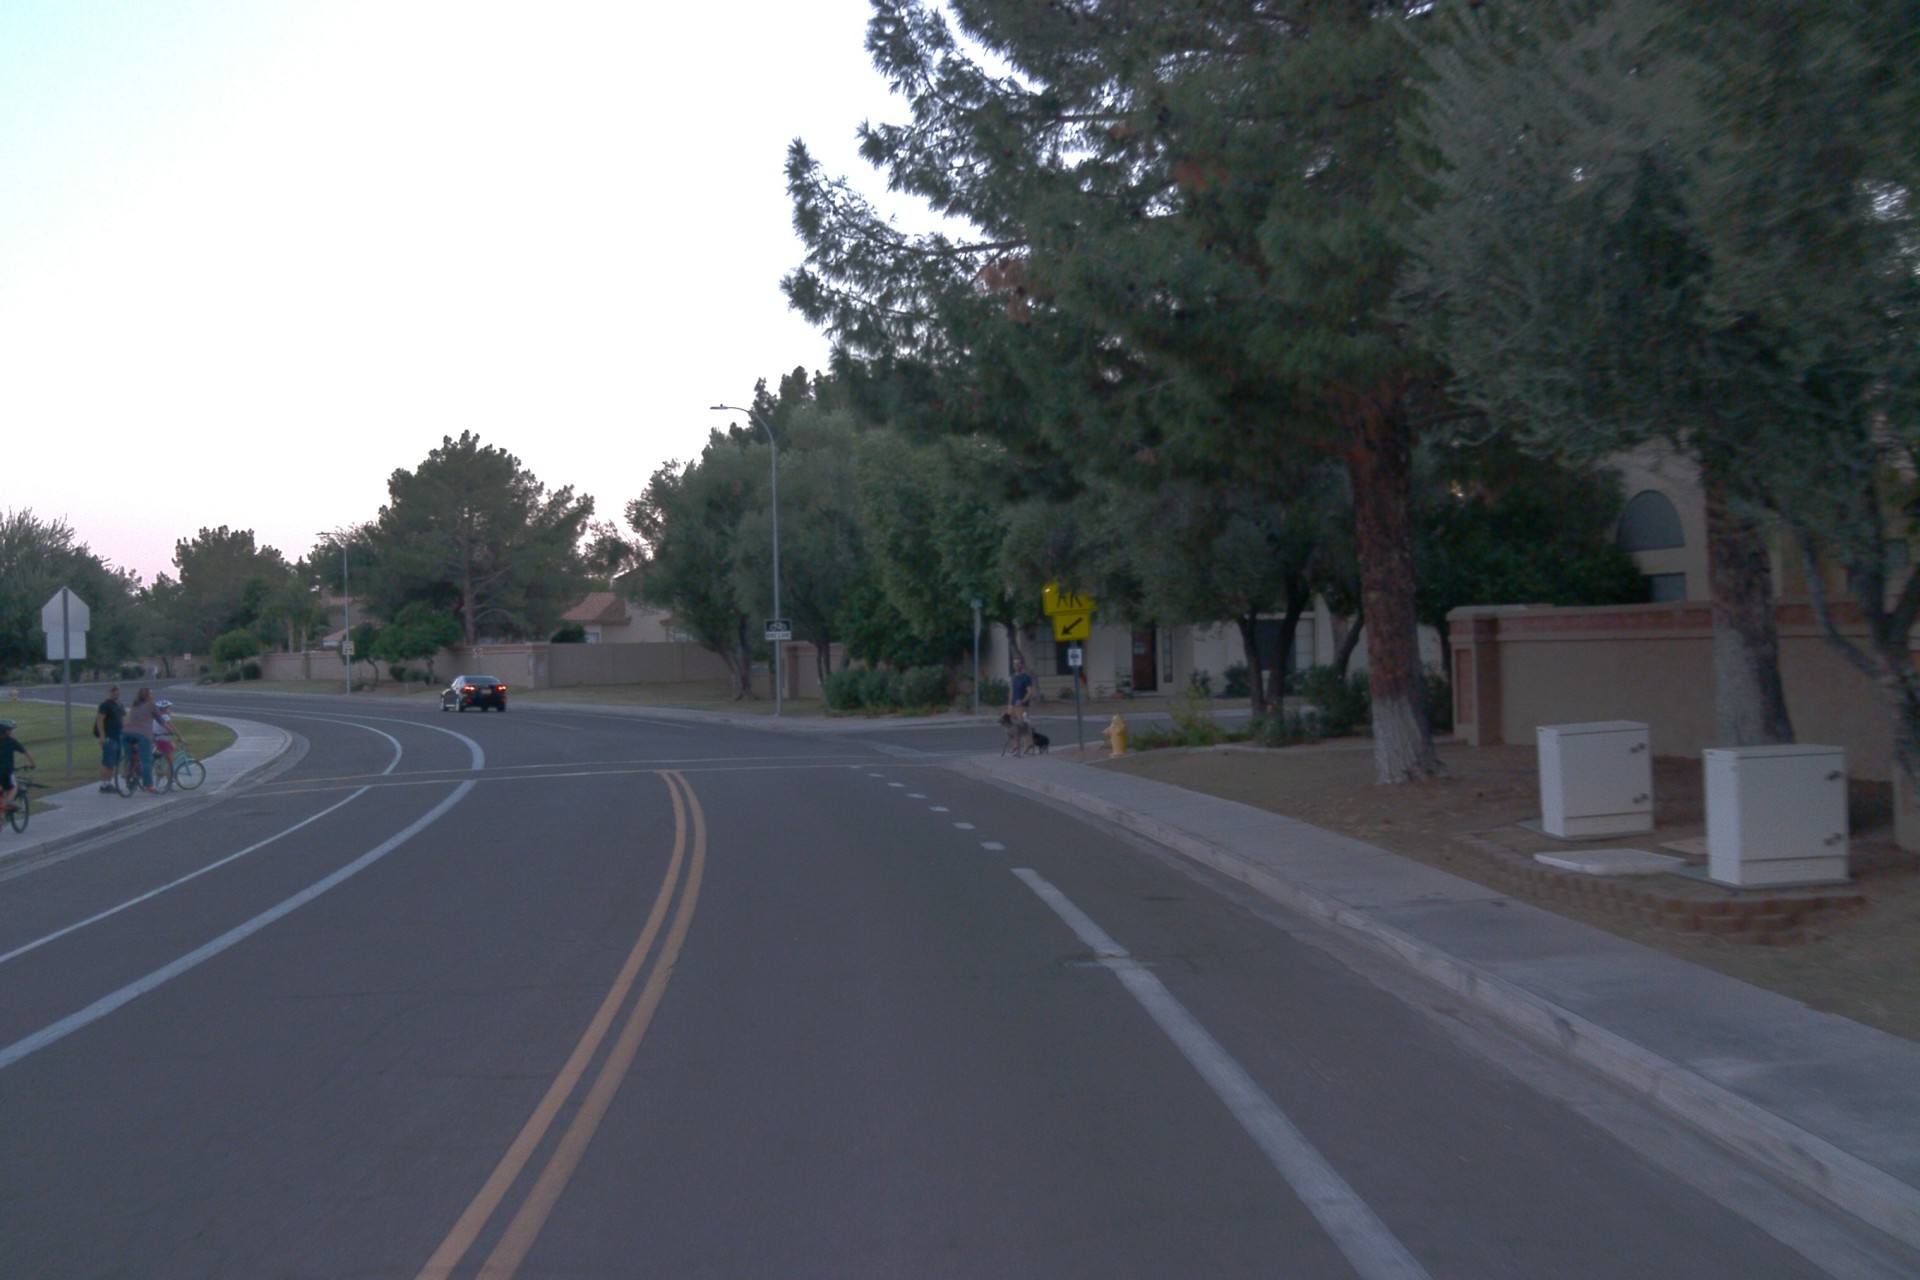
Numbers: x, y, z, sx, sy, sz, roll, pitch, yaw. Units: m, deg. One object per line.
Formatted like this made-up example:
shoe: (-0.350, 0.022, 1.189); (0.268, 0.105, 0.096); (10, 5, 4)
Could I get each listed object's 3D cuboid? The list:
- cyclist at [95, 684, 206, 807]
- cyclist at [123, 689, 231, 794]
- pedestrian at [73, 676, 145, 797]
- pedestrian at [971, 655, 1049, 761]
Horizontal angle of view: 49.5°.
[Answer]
cyclist: (-12.285, 1.578, 31.702); (0.808, 1.770, 1.957); (0, 0, 4)
cyclist: (-12.741, 1.638, 33.953); (0.729, 1.630, 1.573); (0, 0, 28)
pedestrian: (-13.185, 1.481, 32.313); (0.838, 1.840, 0.883); (0, 0, -7)
pedestrian: (0.887, 1.196, 37.195); (0.981, 1.860, 1.002); (0, 0, -40)
